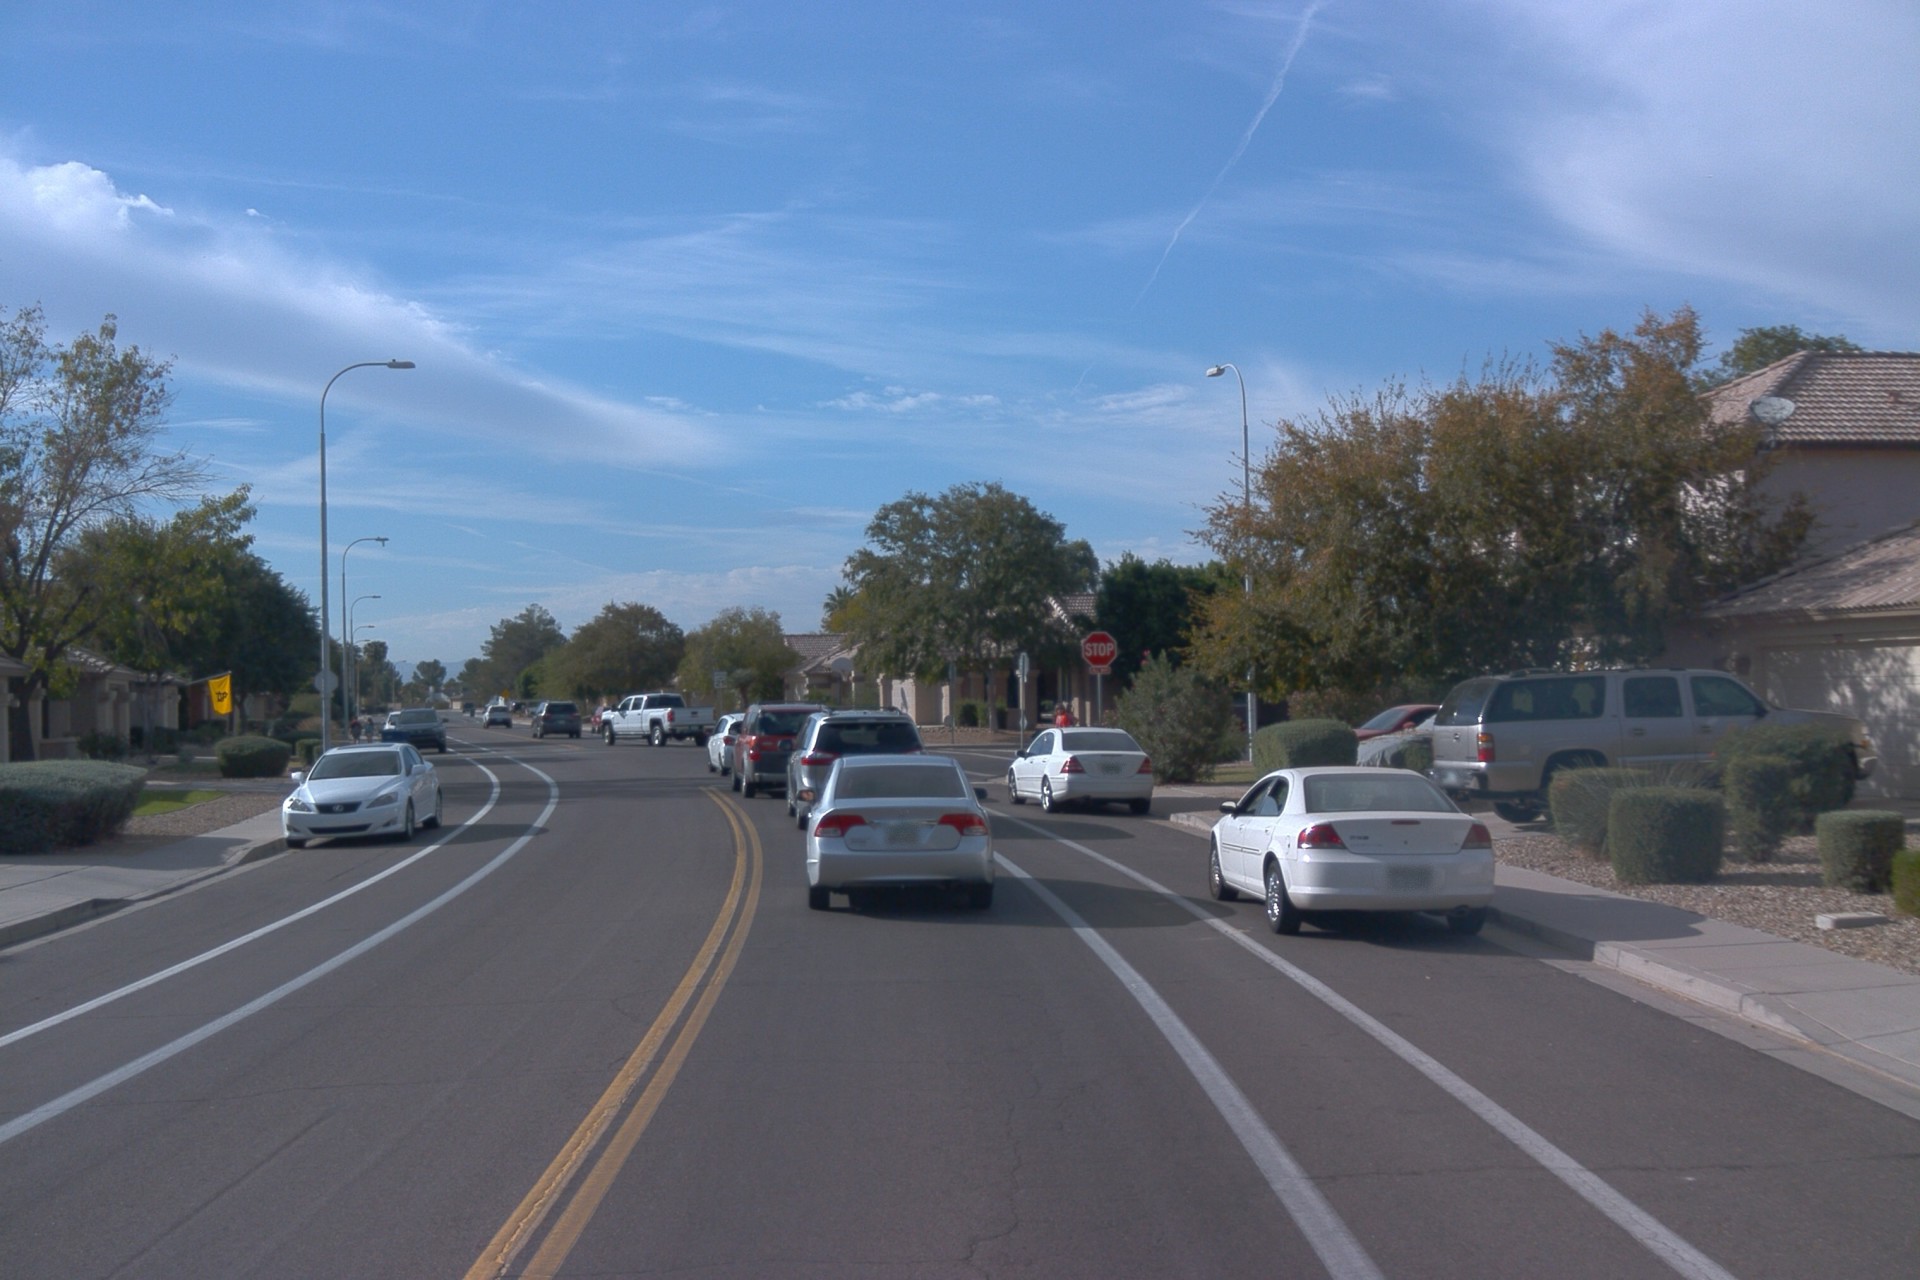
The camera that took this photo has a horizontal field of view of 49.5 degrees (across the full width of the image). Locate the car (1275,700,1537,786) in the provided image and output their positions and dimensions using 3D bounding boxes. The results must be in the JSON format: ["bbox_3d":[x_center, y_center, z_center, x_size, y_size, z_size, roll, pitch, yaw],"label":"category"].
[{"bbox_3d":[8.035,1.828,37.598,4.231,1.440,1.854,0,-1,-12],"label":"car"}]

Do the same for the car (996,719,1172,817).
[{"bbox_3d":[2.022,2.115,35.331,1.981,1.460,4.428,0,-1,-10],"label":"car"}]

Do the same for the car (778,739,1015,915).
[{"bbox_3d":[-0.681,1.784,20.927,2.121,1.440,4.395,0,-1,-3],"label":"car"}]

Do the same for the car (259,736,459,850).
[{"bbox_3d":[-9.148,2.300,32.045,2.145,1.490,4.440,0,-1,-5],"label":"car"}]

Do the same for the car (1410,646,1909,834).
[{"bbox_3d":[8.751,1.213,26.308,5.537,2.210,2.241,0,-1,-7],"label":"car"}]

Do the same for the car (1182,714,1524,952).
[{"bbox_3d":[3.359,1.607,18.784,1.909,1.780,4.708,0,-1,-4],"label":"car"}]

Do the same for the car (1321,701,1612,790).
[{"bbox_3d":[8.495,1.750,35.083,4.335,1.400,1.953,0,-1,-11],"label":"car"}]

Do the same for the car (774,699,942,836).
[{"bbox_3d":[-1.642,1.856,31.665,2.196,1.870,4.613,0,-1,-7],"label":"car"}]
